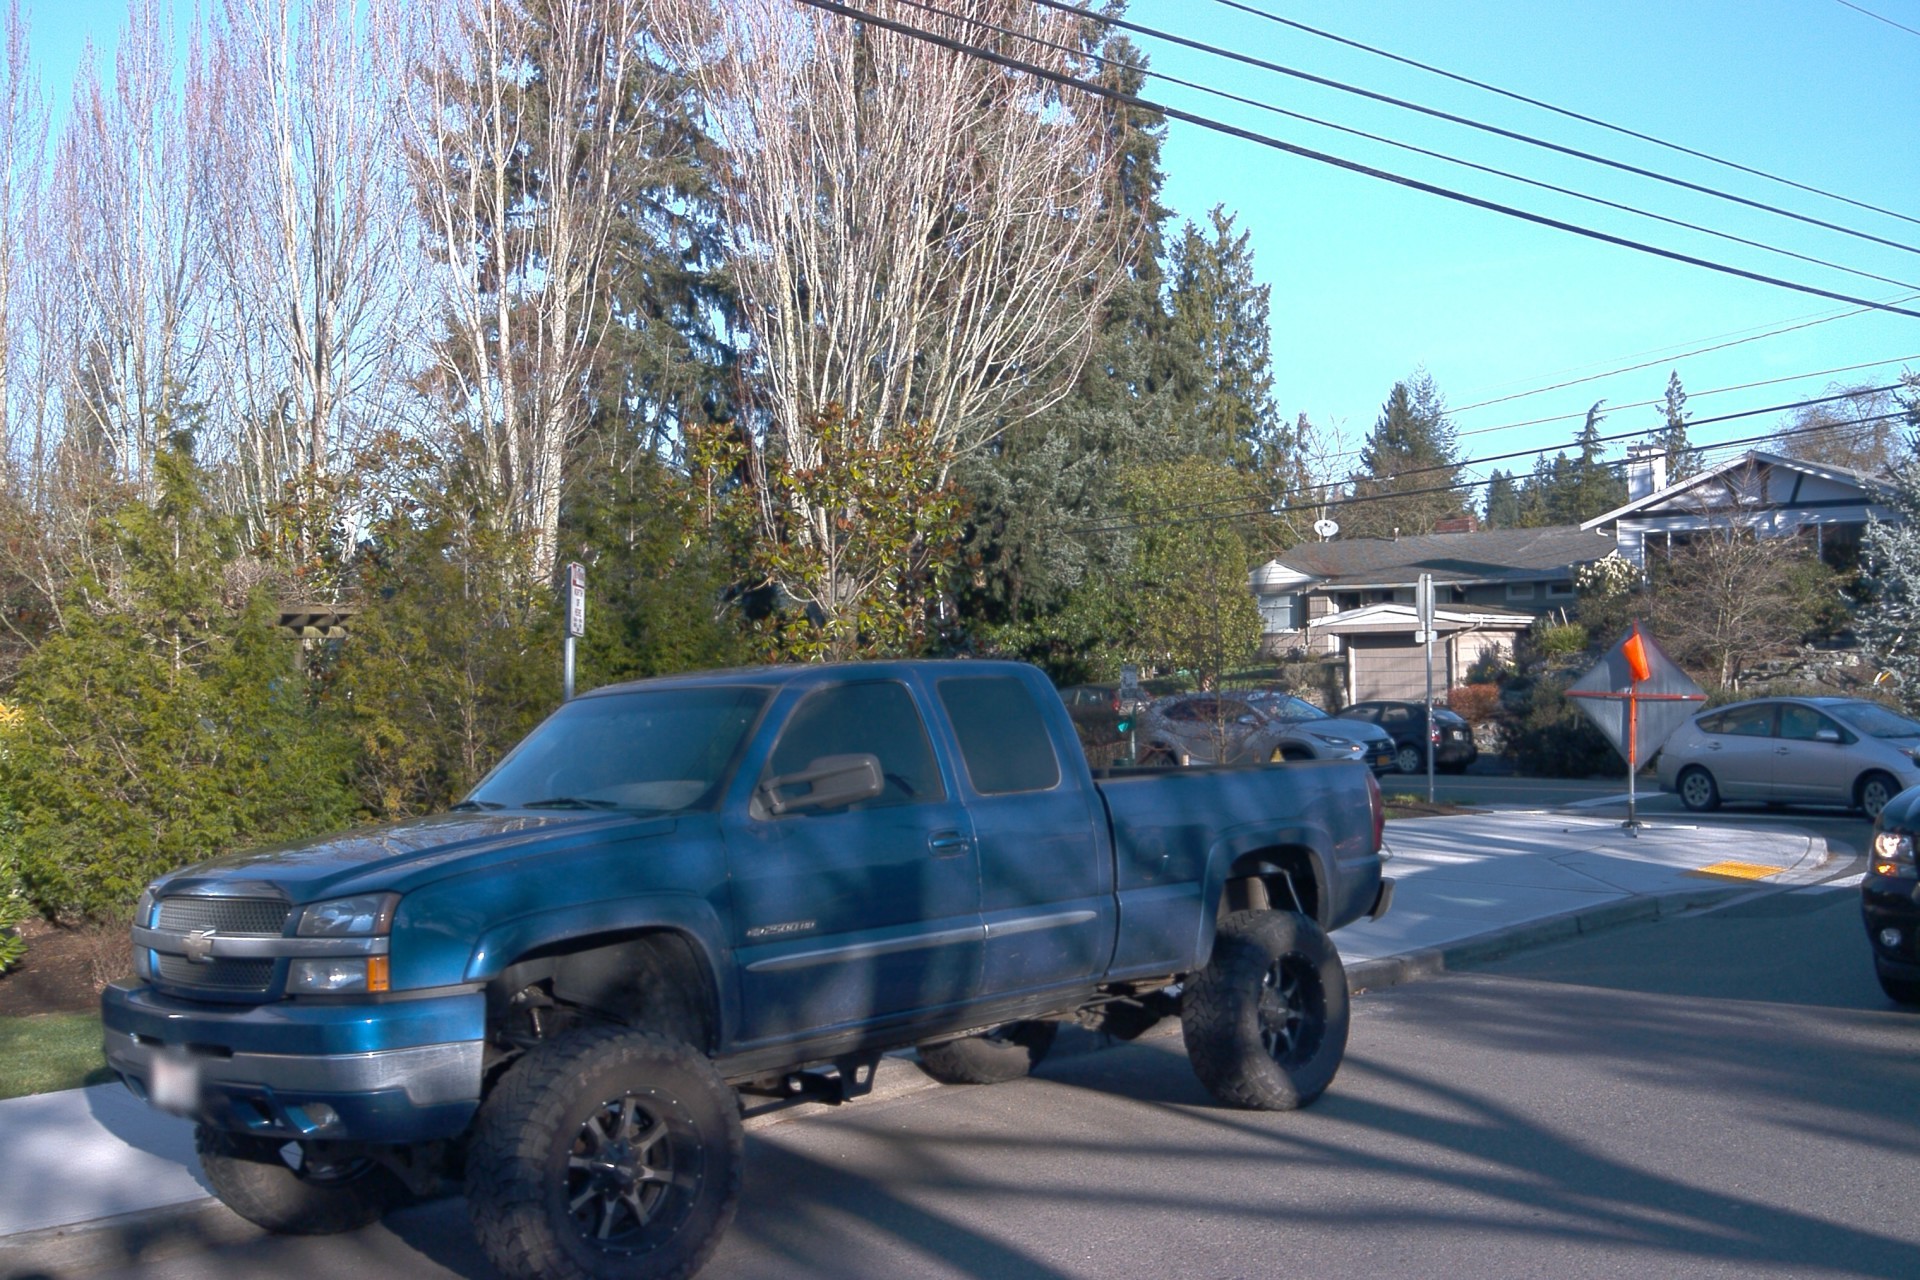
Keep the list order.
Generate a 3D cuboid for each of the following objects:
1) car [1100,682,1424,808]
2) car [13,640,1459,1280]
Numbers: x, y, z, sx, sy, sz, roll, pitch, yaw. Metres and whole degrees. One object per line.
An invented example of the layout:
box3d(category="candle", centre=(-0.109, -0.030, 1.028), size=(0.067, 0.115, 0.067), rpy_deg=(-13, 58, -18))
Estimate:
box3d(category="car", centre=(4.690, 1.582, 32.552), size=(2.196, 1.680, 4.682), rpy_deg=(-1, 1, -44))
box3d(category="car", centre=(-0.507, 1.153, 8.911), size=(2.480, 2.220, 6.010), rpy_deg=(1, 1, 44))
